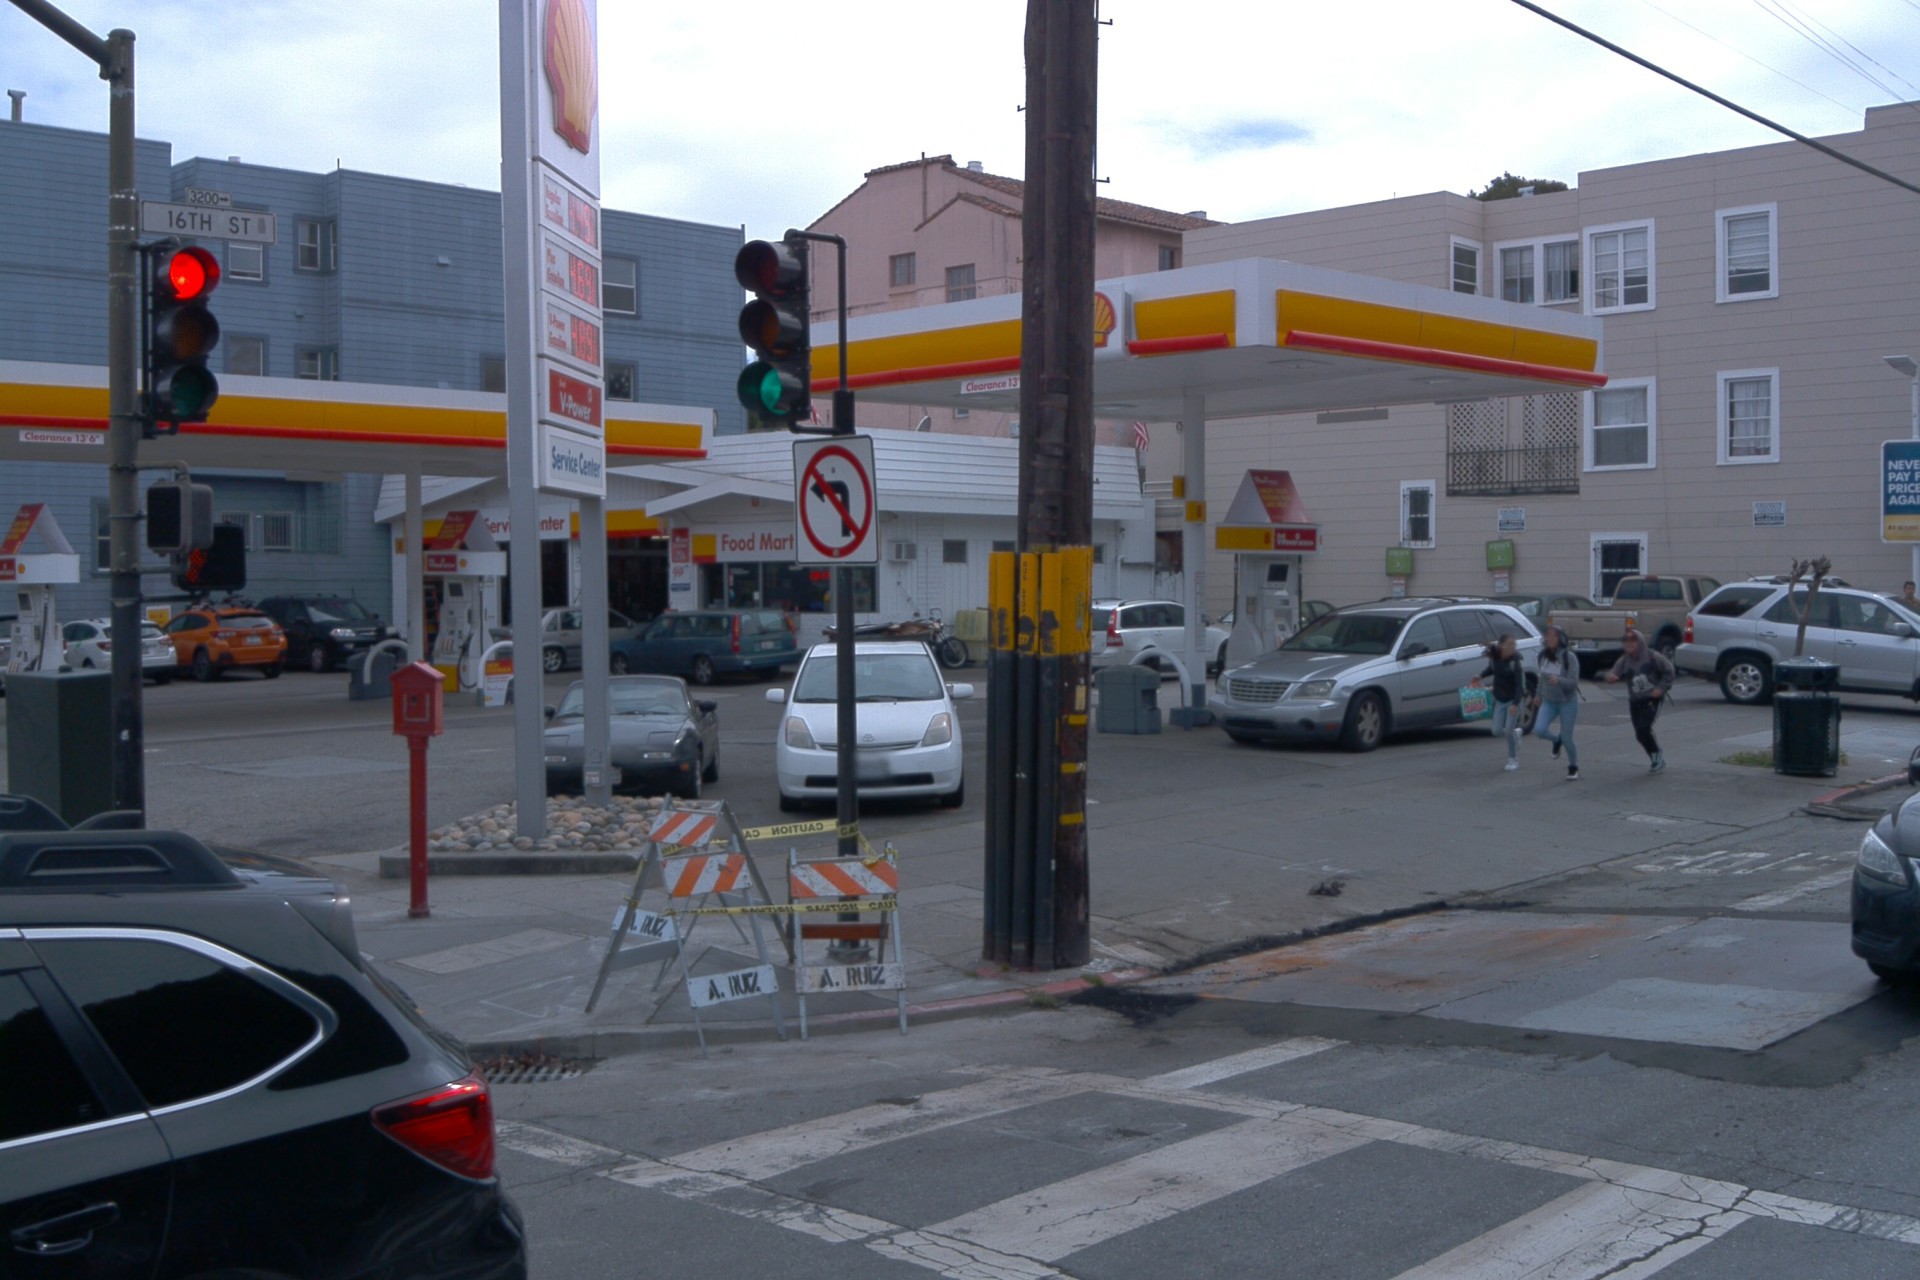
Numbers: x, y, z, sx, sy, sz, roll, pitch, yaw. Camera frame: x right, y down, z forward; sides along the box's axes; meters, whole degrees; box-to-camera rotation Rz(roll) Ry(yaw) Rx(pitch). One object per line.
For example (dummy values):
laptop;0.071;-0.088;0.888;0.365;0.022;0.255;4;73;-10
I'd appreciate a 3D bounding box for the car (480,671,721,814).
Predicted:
car;-3.395;0.938;20.134;1.838;1.140;3.679;0;1;-2

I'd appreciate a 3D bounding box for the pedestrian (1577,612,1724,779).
pedestrian;7.062;0.539;21.103;1.166;1.643;0.960;-1;1;-41

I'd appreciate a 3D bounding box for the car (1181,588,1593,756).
car;5.137;0.294;24.420;5.073;1.780;2.142;-1;1;-41

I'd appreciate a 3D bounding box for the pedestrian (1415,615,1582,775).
pedestrian;5.648;0.539;21.629;1.310;1.600;1.176;-1;1;-44

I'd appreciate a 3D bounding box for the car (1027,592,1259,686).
car;3.328;-0.061;36.831;1.958;1.570;4.580;1;1;38

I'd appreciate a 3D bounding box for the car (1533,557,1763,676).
car;11.956;-0.425;35.740;4.381;1.940;1.937;-1;1;-43

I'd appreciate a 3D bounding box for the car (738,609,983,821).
car;-0.937;0.609;20.035;2.104;1.810;4.502;0;1;-2

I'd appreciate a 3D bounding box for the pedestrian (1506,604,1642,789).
pedestrian;6.205;0.539;20.846;1.246;1.800;0.801;-1;1;-44
